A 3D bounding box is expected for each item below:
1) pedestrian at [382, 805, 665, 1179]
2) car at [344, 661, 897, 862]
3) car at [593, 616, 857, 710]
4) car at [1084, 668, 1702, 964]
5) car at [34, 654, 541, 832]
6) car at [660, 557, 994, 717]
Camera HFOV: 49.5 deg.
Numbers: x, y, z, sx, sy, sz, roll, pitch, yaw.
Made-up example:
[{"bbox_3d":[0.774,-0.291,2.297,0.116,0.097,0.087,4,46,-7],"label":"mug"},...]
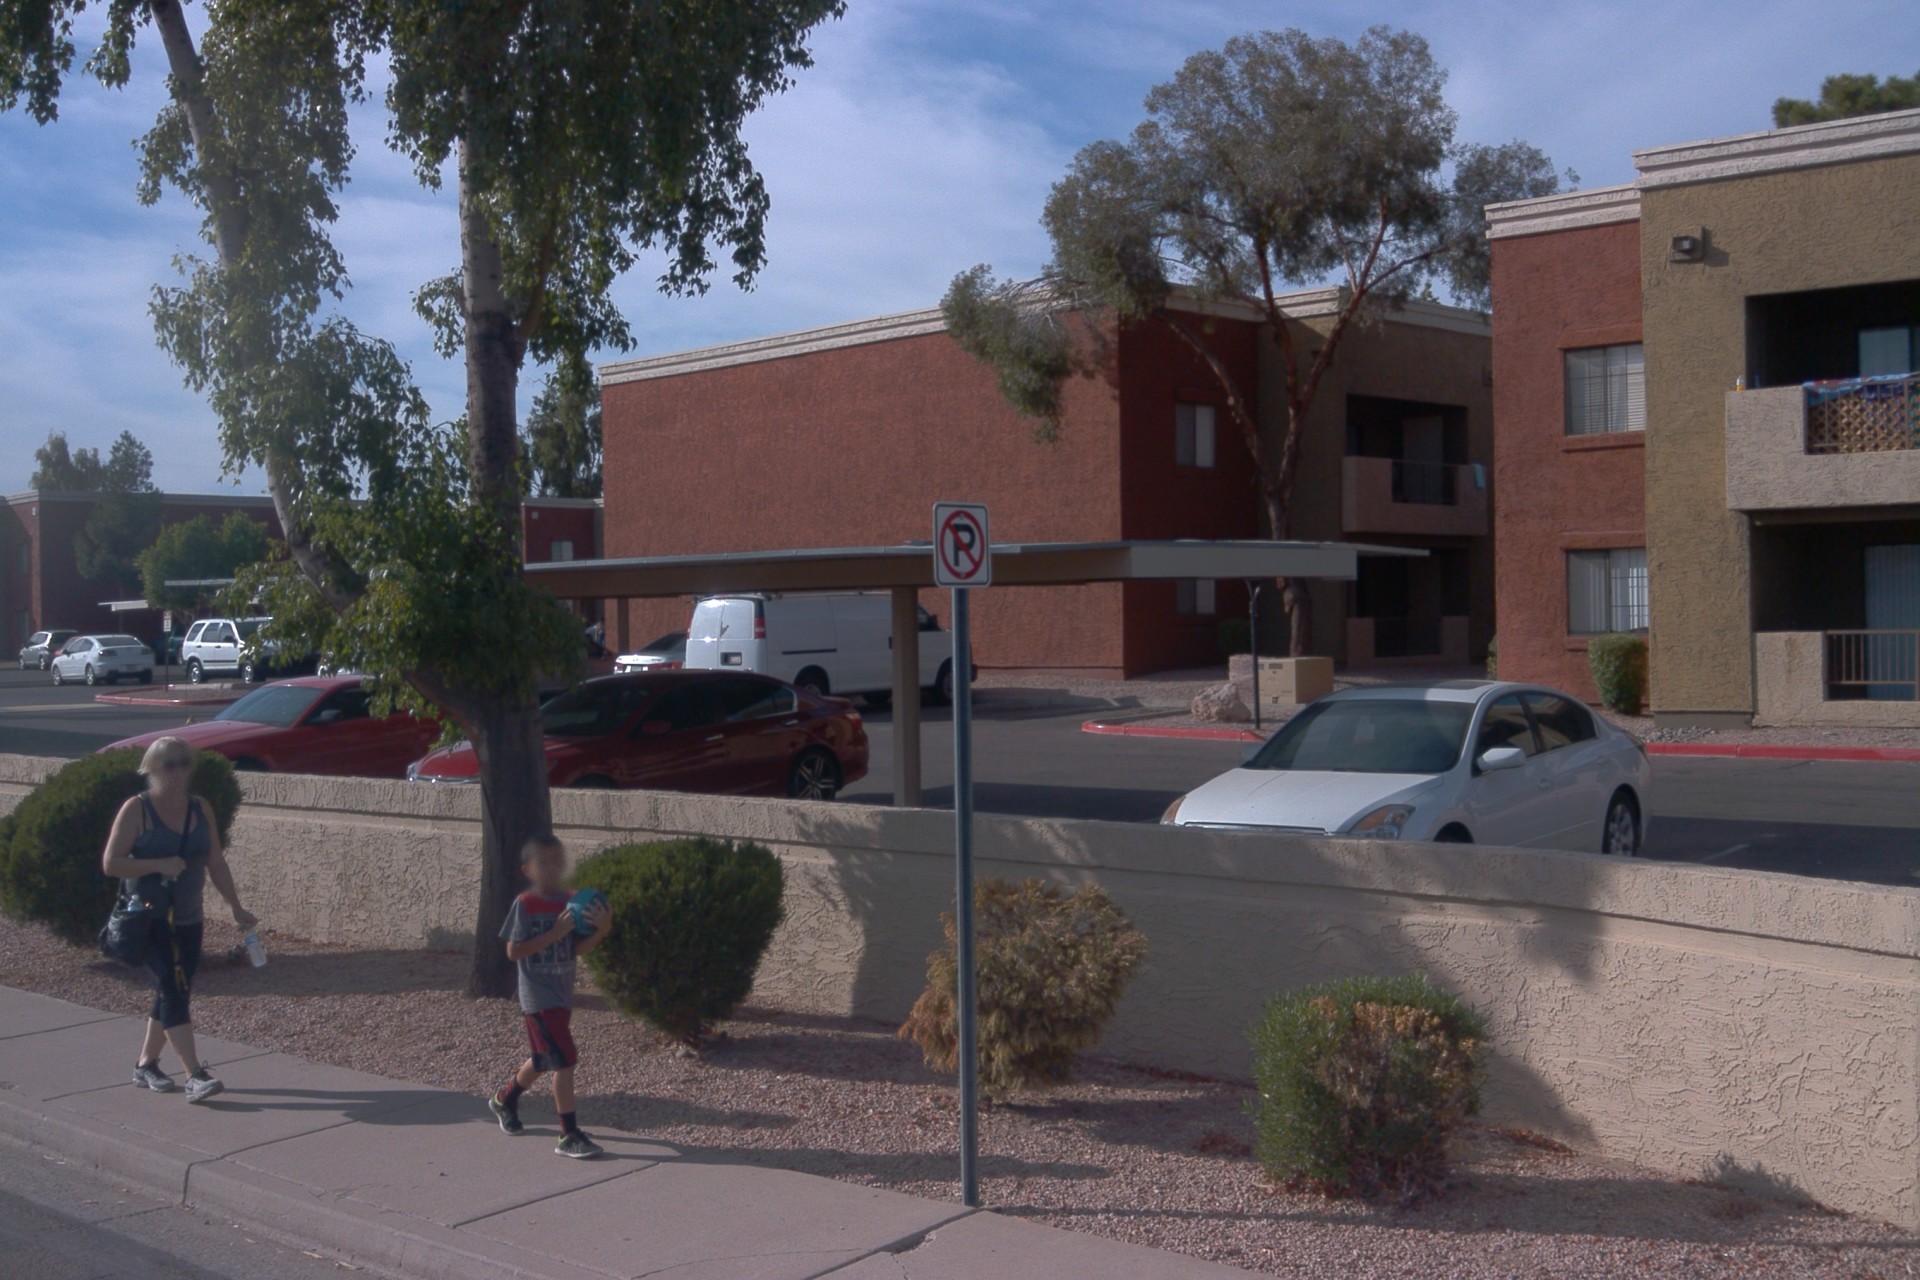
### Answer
[{"bbox_3d":[-1.753,1.366,8.376,0.780,1.330,0.798,0,-1,41],"label":"pedestrian"},{"bbox_3d":[-2.960,1.015,19.171,2.107,1.600,4.864,0,-1,38],"label":"car"},{"bbox_3d":[-4.144,0.431,37.244,2.013,1.580,4.416,0,-1,44],"label":"car"},{"bbox_3d":[3.032,0.993,13.697,2.042,1.590,4.760,0,-1,39],"label":"car"},{"bbox_3d":[-7.072,1.024,22.329,2.199,1.700,4.752,0,-1,39],"label":"car"},{"bbox_3d":[-2.173,0.000,35.639,2.359,2.520,5.665,0,-1,42],"label":"car"}]
